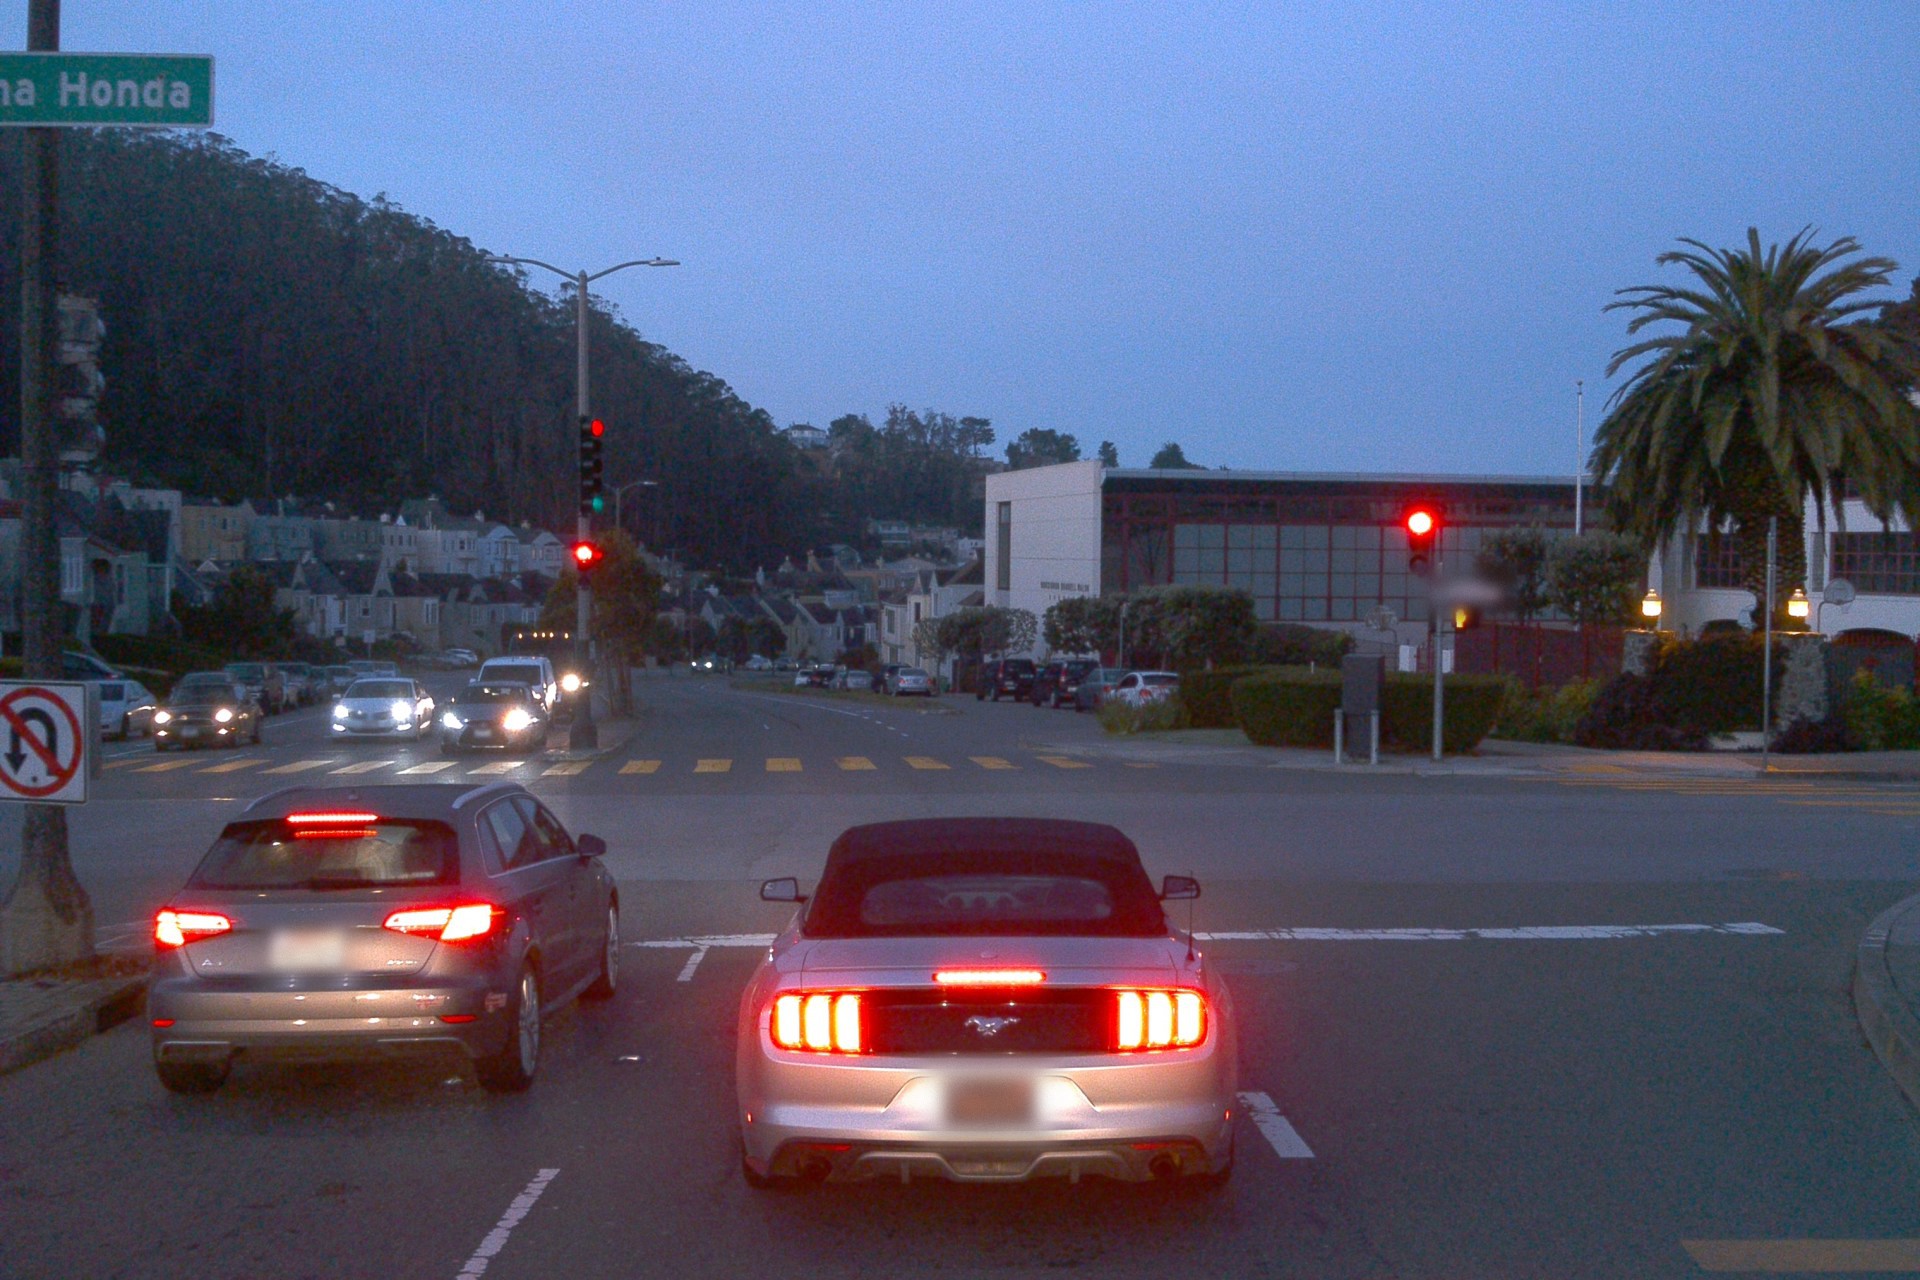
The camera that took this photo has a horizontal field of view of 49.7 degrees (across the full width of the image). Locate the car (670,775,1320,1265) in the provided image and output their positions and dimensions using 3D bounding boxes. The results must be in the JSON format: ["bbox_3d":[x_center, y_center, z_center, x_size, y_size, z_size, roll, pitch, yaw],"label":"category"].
[{"bbox_3d":[0.099,1.414,9.110,2.174,1.380,4.355,0,0,0],"label":"car"}]

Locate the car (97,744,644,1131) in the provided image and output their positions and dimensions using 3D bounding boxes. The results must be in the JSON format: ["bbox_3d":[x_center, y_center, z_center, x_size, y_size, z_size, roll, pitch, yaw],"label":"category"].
[{"bbox_3d":[-2.886,1.404,11.058,1.782,1.510,3.987,0,0,0],"label":"car"}]
